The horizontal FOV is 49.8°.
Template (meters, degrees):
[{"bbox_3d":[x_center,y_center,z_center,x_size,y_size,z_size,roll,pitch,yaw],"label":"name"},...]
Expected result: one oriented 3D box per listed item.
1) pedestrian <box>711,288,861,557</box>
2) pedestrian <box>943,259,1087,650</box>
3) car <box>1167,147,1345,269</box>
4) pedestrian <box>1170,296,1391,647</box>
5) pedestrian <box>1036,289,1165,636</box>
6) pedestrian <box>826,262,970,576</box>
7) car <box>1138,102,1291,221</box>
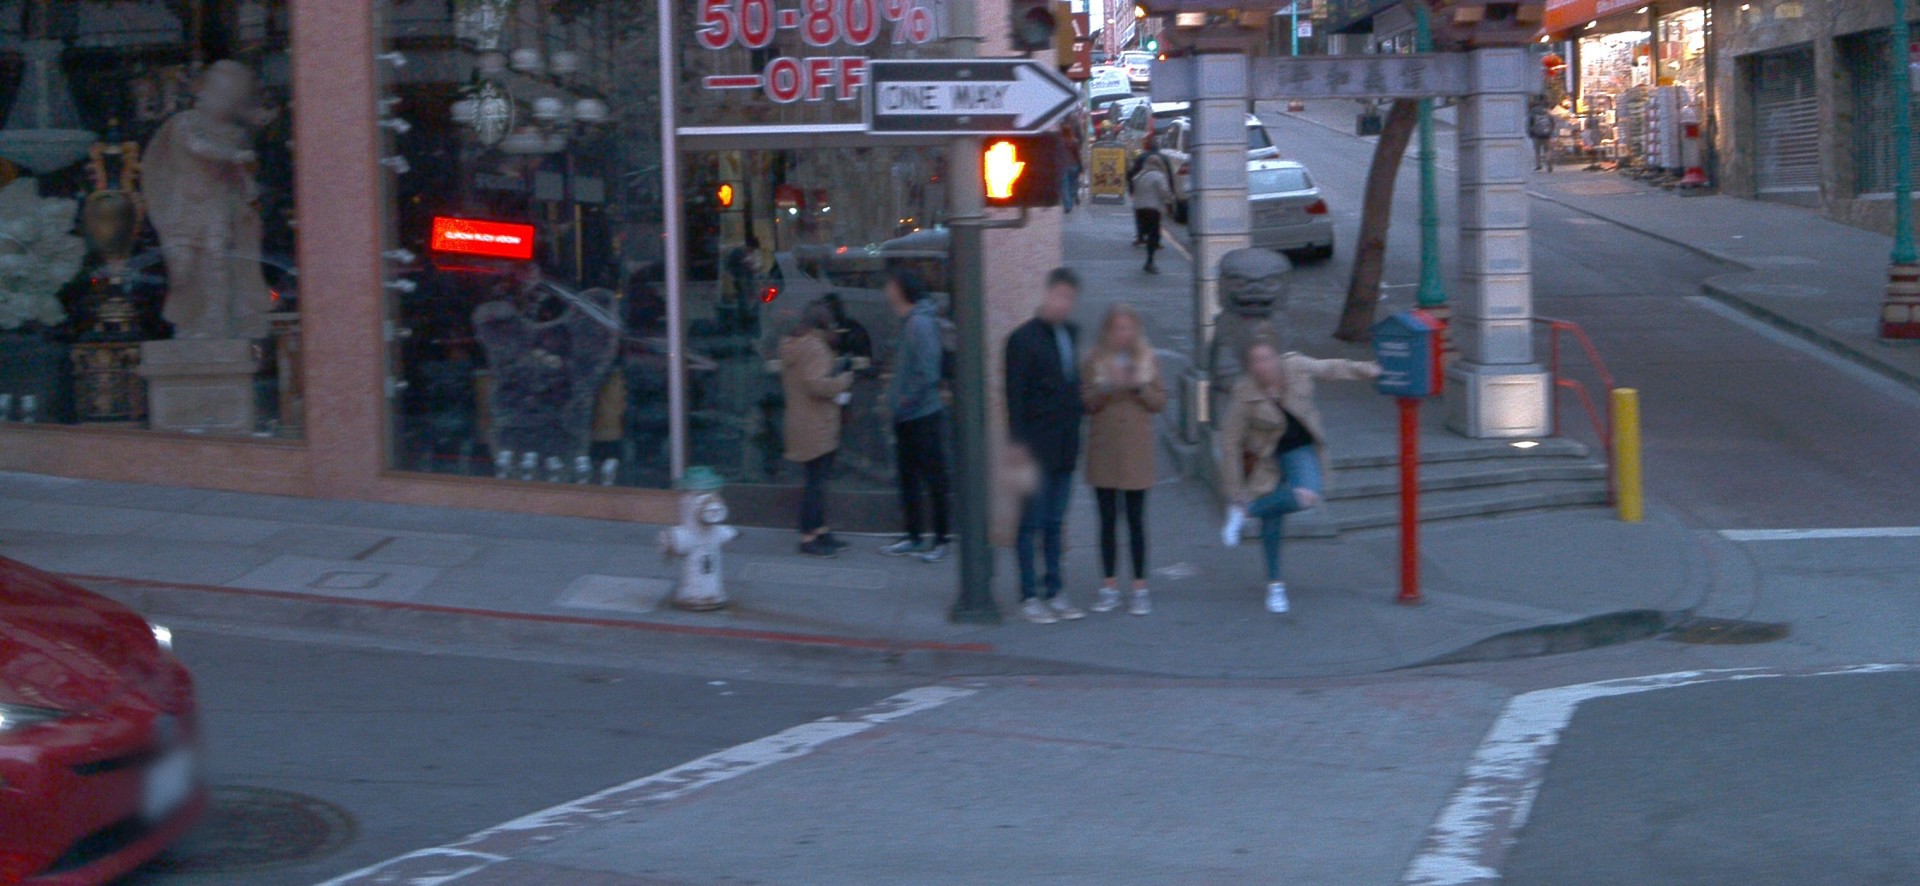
[{"bbox_3d":[-1.095,-0.159,12.924,0.743,1.577,0.792,-1,2,-19],"label":"pedestrian"},{"bbox_3d":[0.299,0.032,11.414,0.608,2.066,0.549,-1,2,-22],"label":"pedestrian"},{"bbox_3d":[4.356,-3.535,31.108,2.091,1.681,4.479,0,6,1],"label":"car"},{"bbox_3d":[1.802,0.128,11.748,1.090,1.876,0.821,-1,2,-2],"label":"pedestrian"},{"bbox_3d":[0.785,0.087,11.628,0.636,1.876,0.534,-1,2,-5],"label":"pedestrian"},{"bbox_3d":[-0.395,-0.183,12.982,0.722,1.876,0.720,-1,2,-17],"label":"pedestrian"},{"bbox_3d":[4.477,-5.001,37.078,2.229,1.960,4.596,0,6,1],"label":"car"}]
